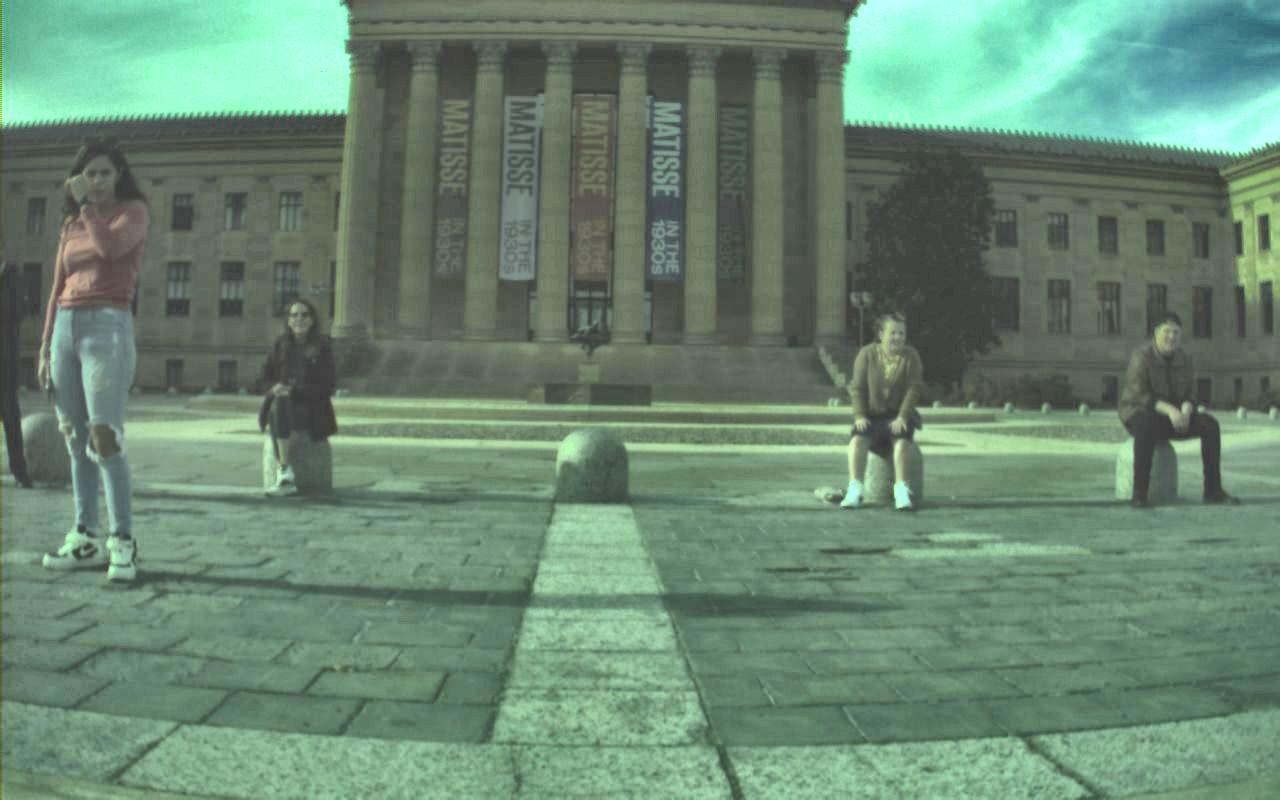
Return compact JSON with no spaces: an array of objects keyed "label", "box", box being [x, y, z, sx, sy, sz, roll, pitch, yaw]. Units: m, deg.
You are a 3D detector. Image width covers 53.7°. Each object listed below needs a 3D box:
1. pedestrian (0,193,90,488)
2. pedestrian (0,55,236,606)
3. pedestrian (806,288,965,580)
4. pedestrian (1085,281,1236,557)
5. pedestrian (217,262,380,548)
[{"label":"pedestrian","box":[-4.058,-0.352,7.191,0.773,1.792,0.760,0,0,4]},{"label":"pedestrian","box":[-1.972,-0.233,4.143,0.766,1.793,0.779,0,0,6]},{"label":"pedestrian","box":[1.529,0.203,7.828,0.831,1.740,0.837,0,0,-1]},{"label":"pedestrian","box":[3.492,0.132,7.893,0.834,1.756,0.844,0,0,6]},{"label":"pedestrian","box":[-2.169,0.022,7.755,0.822,1.708,0.831,0,0,6]}]
